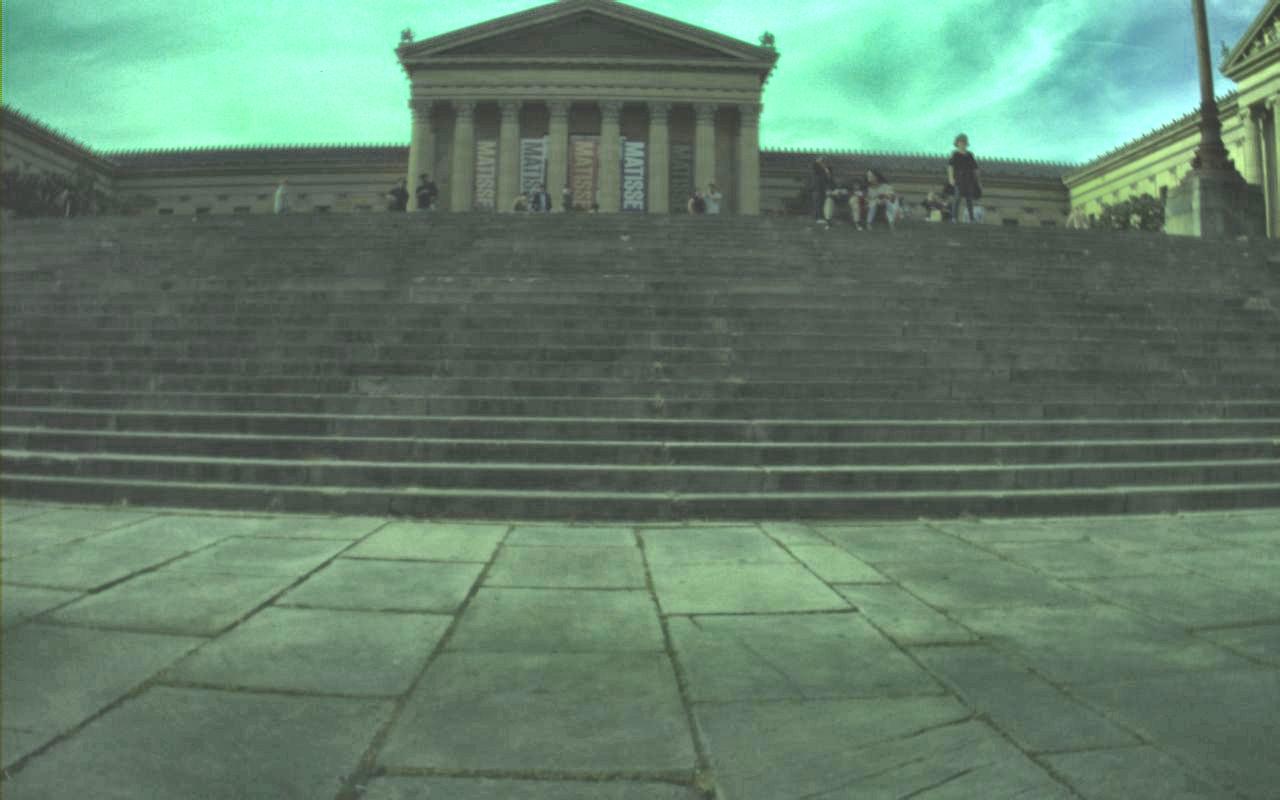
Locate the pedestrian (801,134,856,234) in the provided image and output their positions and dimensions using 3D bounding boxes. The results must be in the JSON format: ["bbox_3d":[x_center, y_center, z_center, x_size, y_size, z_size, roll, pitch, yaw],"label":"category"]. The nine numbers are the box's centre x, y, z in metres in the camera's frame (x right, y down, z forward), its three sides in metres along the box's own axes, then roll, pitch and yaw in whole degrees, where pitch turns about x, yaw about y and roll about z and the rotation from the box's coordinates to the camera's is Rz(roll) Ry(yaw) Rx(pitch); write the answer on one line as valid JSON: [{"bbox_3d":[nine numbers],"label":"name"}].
[{"bbox_3d":[3.098,-3.524,20.444,0.688,1.547,0.730,1,0,27],"label":"pedestrian"}]

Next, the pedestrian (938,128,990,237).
[{"bbox_3d":[5.665,-3.785,21.392,0.751,1.805,0.746,0,0,3],"label":"pedestrian"}]
